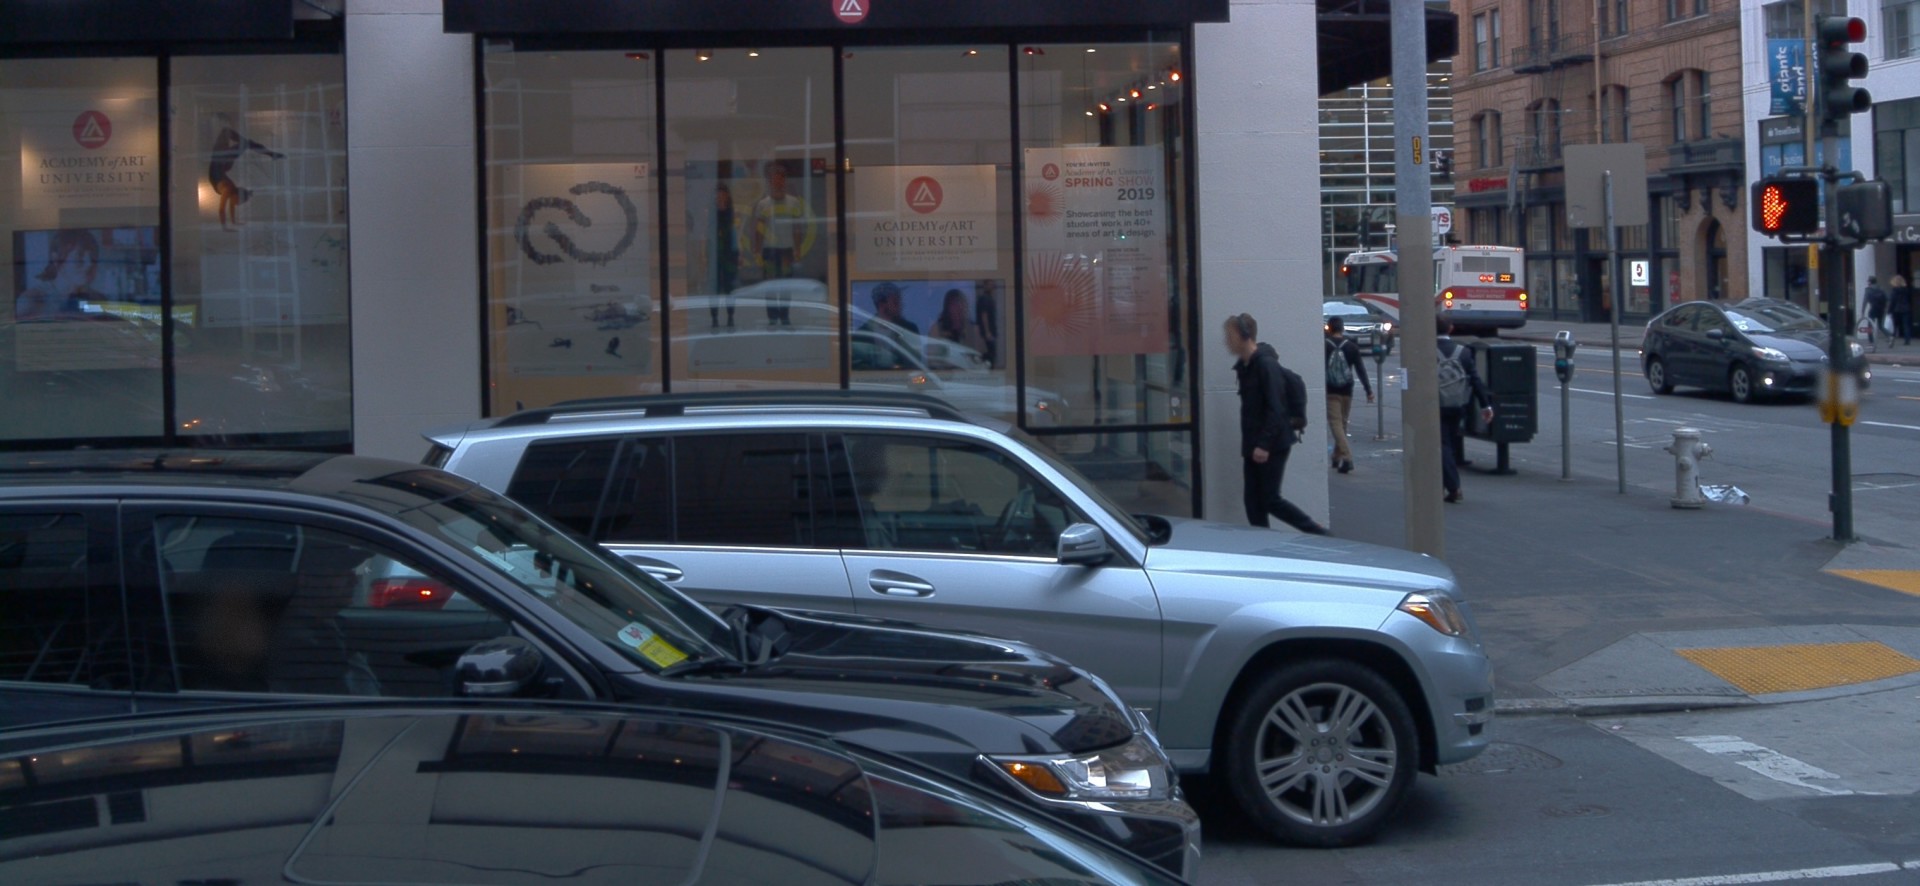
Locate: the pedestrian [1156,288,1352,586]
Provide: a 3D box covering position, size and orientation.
[{"bbox_3d":[1.978,-0.078,13.923,1.088,1.887,0.779,-1,2,-16],"label":"pedestrian"}]

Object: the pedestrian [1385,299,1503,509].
[{"bbox_3d":[4.383,-0.384,18.737,0.732,1.796,0.973,-1,2,-9],"label":"pedestrian"}]

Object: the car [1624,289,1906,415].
[{"bbox_3d":[11.881,-1.426,30.803,2.064,1.531,4.507,-1,6,-7],"label":"car"}]

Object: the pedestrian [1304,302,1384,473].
[{"bbox_3d":[4.041,-0.602,21.749,0.667,1.727,0.794,0,2,-3],"label":"pedestrian"}]

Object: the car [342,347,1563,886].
[{"bbox_3d":[-0.044,0.641,8.333,4.302,1.863,2.150,-1,4,-4],"label":"car"}]
